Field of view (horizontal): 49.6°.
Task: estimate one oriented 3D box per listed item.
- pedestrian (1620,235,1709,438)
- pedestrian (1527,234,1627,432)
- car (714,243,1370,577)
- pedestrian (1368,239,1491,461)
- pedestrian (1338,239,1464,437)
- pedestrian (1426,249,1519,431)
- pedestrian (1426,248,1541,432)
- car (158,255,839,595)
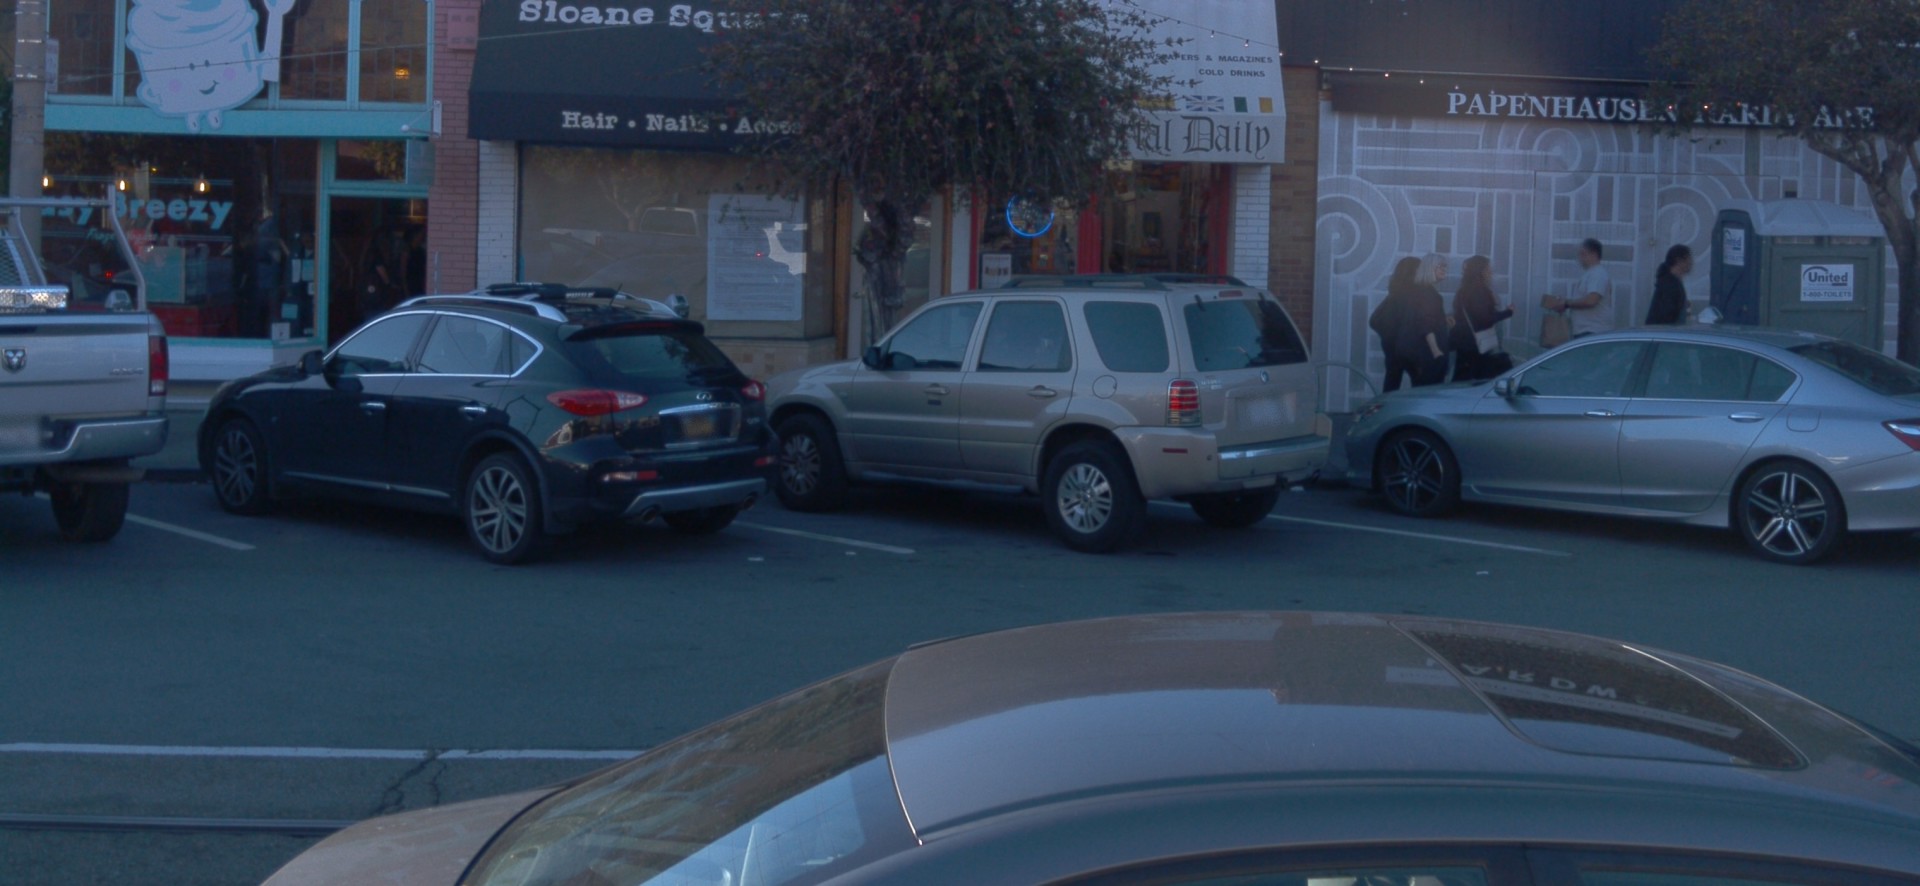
[{"bbox_3d":[6.408,-0.990,18.916,0.560,1.786,0.878,1,2,6],"label":"pedestrian"},{"bbox_3d":[5.869,-1.074,19.789,0.729,1.816,0.925,1,2,6],"label":"pedestrian"},{"bbox_3d":[0.473,-0.406,14.617,4.242,1.893,2.079,6,6,42],"label":"car"},{"bbox_3d":[4.084,-0.829,18.118,0.771,1.866,0.910,1,2,-6],"label":"pedestrian"},{"bbox_3d":[3.992,-0.968,18.862,0.899,1.737,0.801,1,2,-6],"label":"pedestrian"},{"bbox_3d":[4.936,-1.008,20.014,0.713,1.707,0.693,1,2,1],"label":"pedestrian"},{"bbox_3d":[4.827,-0.963,19.171,0.834,1.637,0.719,1,2,-3],"label":"pedestrian"},{"bbox_3d":[-3.218,-0.302,14.037,4.523,1.793,2.116,5,6,39],"label":"car"}]
